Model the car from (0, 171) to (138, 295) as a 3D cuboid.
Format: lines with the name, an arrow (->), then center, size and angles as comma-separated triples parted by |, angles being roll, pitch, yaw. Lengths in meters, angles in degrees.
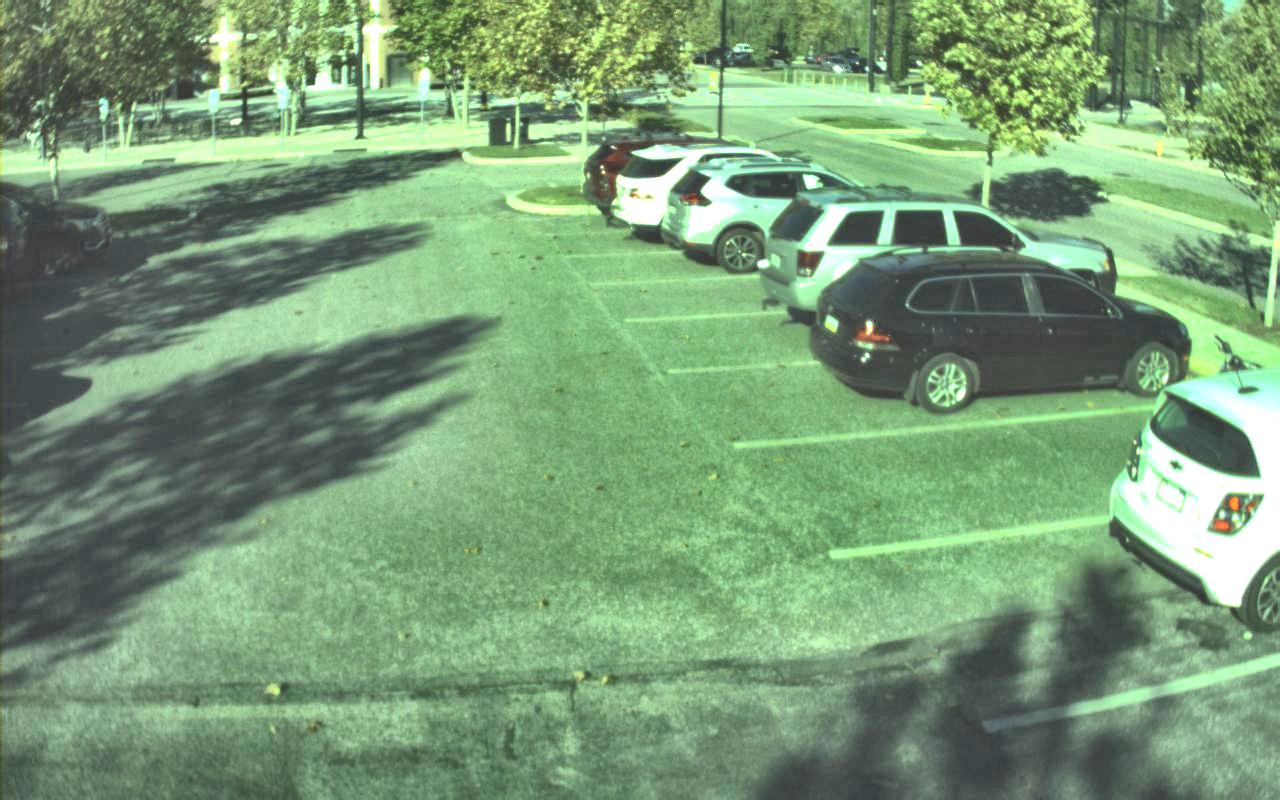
car -> -11.620, -3.064, 20.774 | 4.485, 1.605, 1.968 | -4, 17, -11

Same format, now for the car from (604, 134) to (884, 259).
car -> 1.874, -3.797, 22.844 | 4.727, 1.847, 2.047 | -5, 17, -13

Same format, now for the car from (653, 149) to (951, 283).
car -> 2.628, -3.086, 20.425 | 4.509, 1.763, 1.980 | -5, 17, -12

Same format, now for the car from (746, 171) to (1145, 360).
car -> 3.889, -1.822, 15.588 | 4.758, 1.867, 2.055 | -4, 16, -11

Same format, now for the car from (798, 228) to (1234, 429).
car -> 4.090, -0.885, 13.109 | 4.470, 1.546, 1.928 | -4, 17, -10

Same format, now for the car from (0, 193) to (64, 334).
car -> -11.803, -2.179, 17.726 | 4.468, 1.642, 1.986 | -3, 16, -7

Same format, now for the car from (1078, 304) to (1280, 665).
car -> 5.697, 0.445, 8.363 | 4.496, 1.681, 1.978 | -5, 17, -14

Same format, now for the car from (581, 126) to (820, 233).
car -> 1.204, -4.537, 25.440 | 4.491, 1.787, 1.994 | -5, 17, -13
